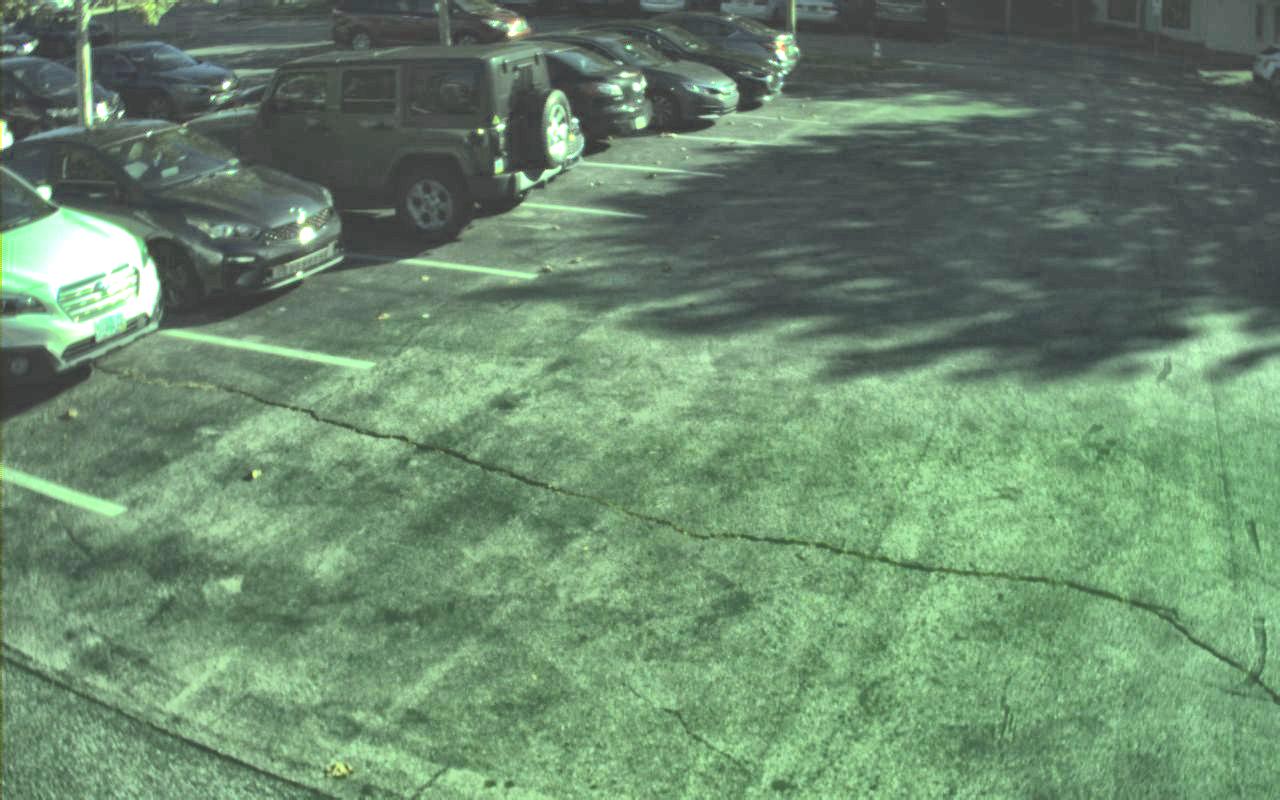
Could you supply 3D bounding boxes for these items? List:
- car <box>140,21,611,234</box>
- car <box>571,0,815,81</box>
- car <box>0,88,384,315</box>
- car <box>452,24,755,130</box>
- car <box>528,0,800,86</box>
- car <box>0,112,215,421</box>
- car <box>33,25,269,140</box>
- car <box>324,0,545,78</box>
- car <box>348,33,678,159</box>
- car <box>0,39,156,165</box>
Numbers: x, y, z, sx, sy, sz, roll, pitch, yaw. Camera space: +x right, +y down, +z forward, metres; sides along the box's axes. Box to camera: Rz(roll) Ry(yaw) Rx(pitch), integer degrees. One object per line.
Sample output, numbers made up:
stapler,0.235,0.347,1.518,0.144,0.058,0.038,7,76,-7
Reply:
car,-2.888,-2.901,12.777,4.710,1.901,2.057,5,17,20
car,1.084,-7.161,24.239,4.434,1.652,1.979,5,17,18
car,-4.674,-1.886,10.709,4.402,1.574,1.947,6,18,23
car,-0.557,-5.158,19.664,4.420,1.577,1.965,4,17,18
car,0.461,-6.374,21.648,4.424,1.608,1.967,4,17,17
car,-5.638,-1.171,8.575,4.599,1.704,2.012,6,18,23
car,-8.808,-5.550,20.308,4.469,1.626,1.964,7,18,25
car,-5.031,-8.800,29.358,5.028,1.777,2.112,5,17,21
car,-1.868,-4.380,17.639,4.375,1.612,1.964,7,18,25
car,-10.049,-4.788,18.102,4.414,1.624,1.961,7,18,24
